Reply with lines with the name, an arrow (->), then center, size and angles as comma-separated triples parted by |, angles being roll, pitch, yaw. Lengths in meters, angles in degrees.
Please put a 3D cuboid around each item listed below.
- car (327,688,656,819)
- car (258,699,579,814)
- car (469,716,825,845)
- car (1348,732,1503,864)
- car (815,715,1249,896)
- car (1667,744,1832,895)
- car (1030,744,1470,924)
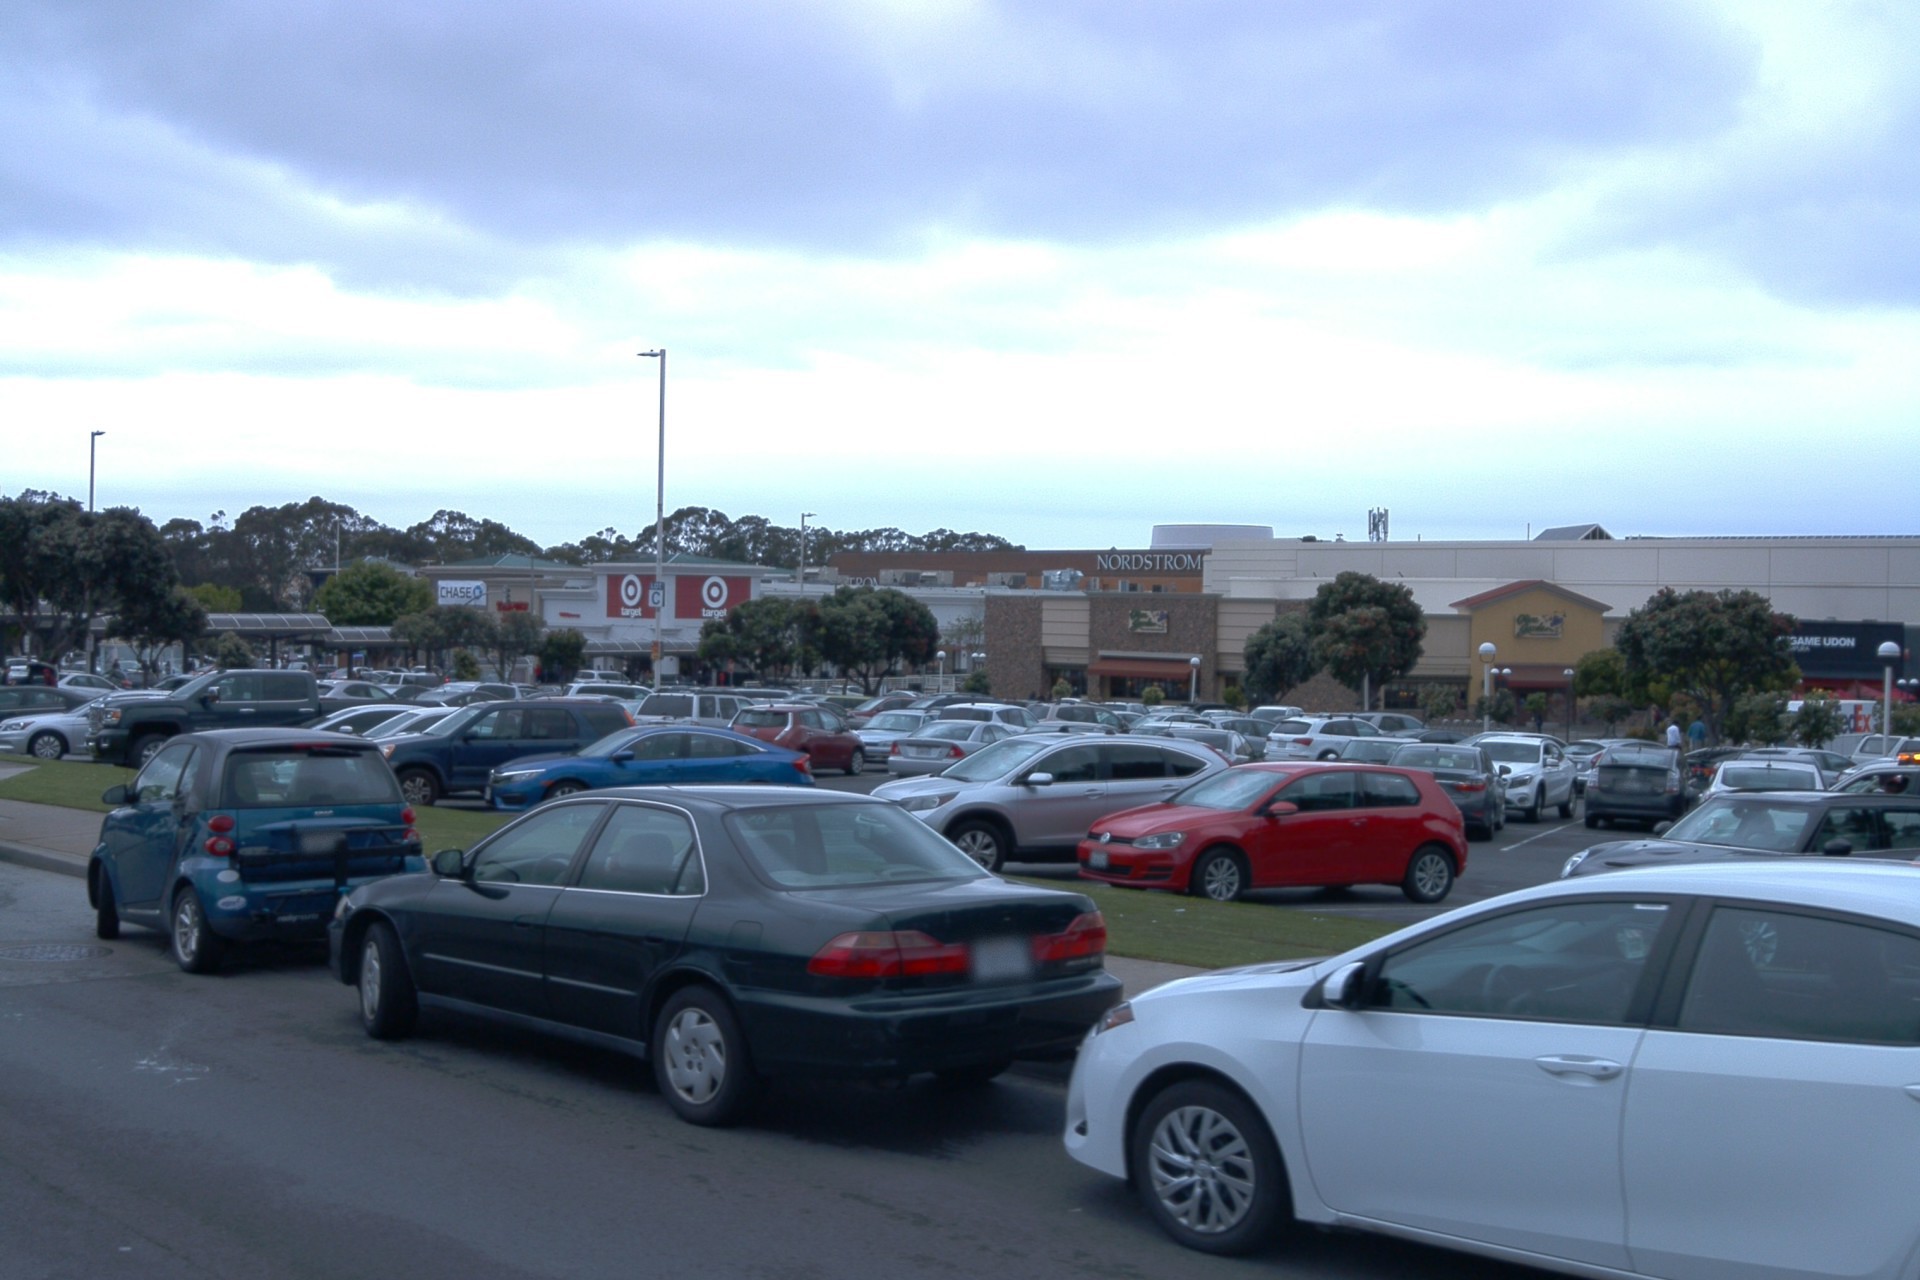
car -> -7.112, 1.660, 31.220 | 4.405, 1.710, 2.256 | 0, 0, -28
car -> -8.773, 1.836, 33.322 | 4.683, 1.590, 2.135 | 0, 0, -26
car -> -4.494, 1.956, 29.499 | 4.634, 1.550, 2.129 | 0, 0, -23
car -> 7.666, 2.495, 33.552 | 2.121, 1.720, 4.666 | 0, 1, 17
car -> 0.832, 1.809, 23.586 | 4.491, 1.720, 2.110 | 0, 0, -26
car -> 11.233, 2.473, 29.317 | 2.029, 1.670, 4.511 | 0, 1, 21
car -> 3.065, 1.965, 21.695 | 4.159, 1.500, 2.071 | 0, 0, -27
